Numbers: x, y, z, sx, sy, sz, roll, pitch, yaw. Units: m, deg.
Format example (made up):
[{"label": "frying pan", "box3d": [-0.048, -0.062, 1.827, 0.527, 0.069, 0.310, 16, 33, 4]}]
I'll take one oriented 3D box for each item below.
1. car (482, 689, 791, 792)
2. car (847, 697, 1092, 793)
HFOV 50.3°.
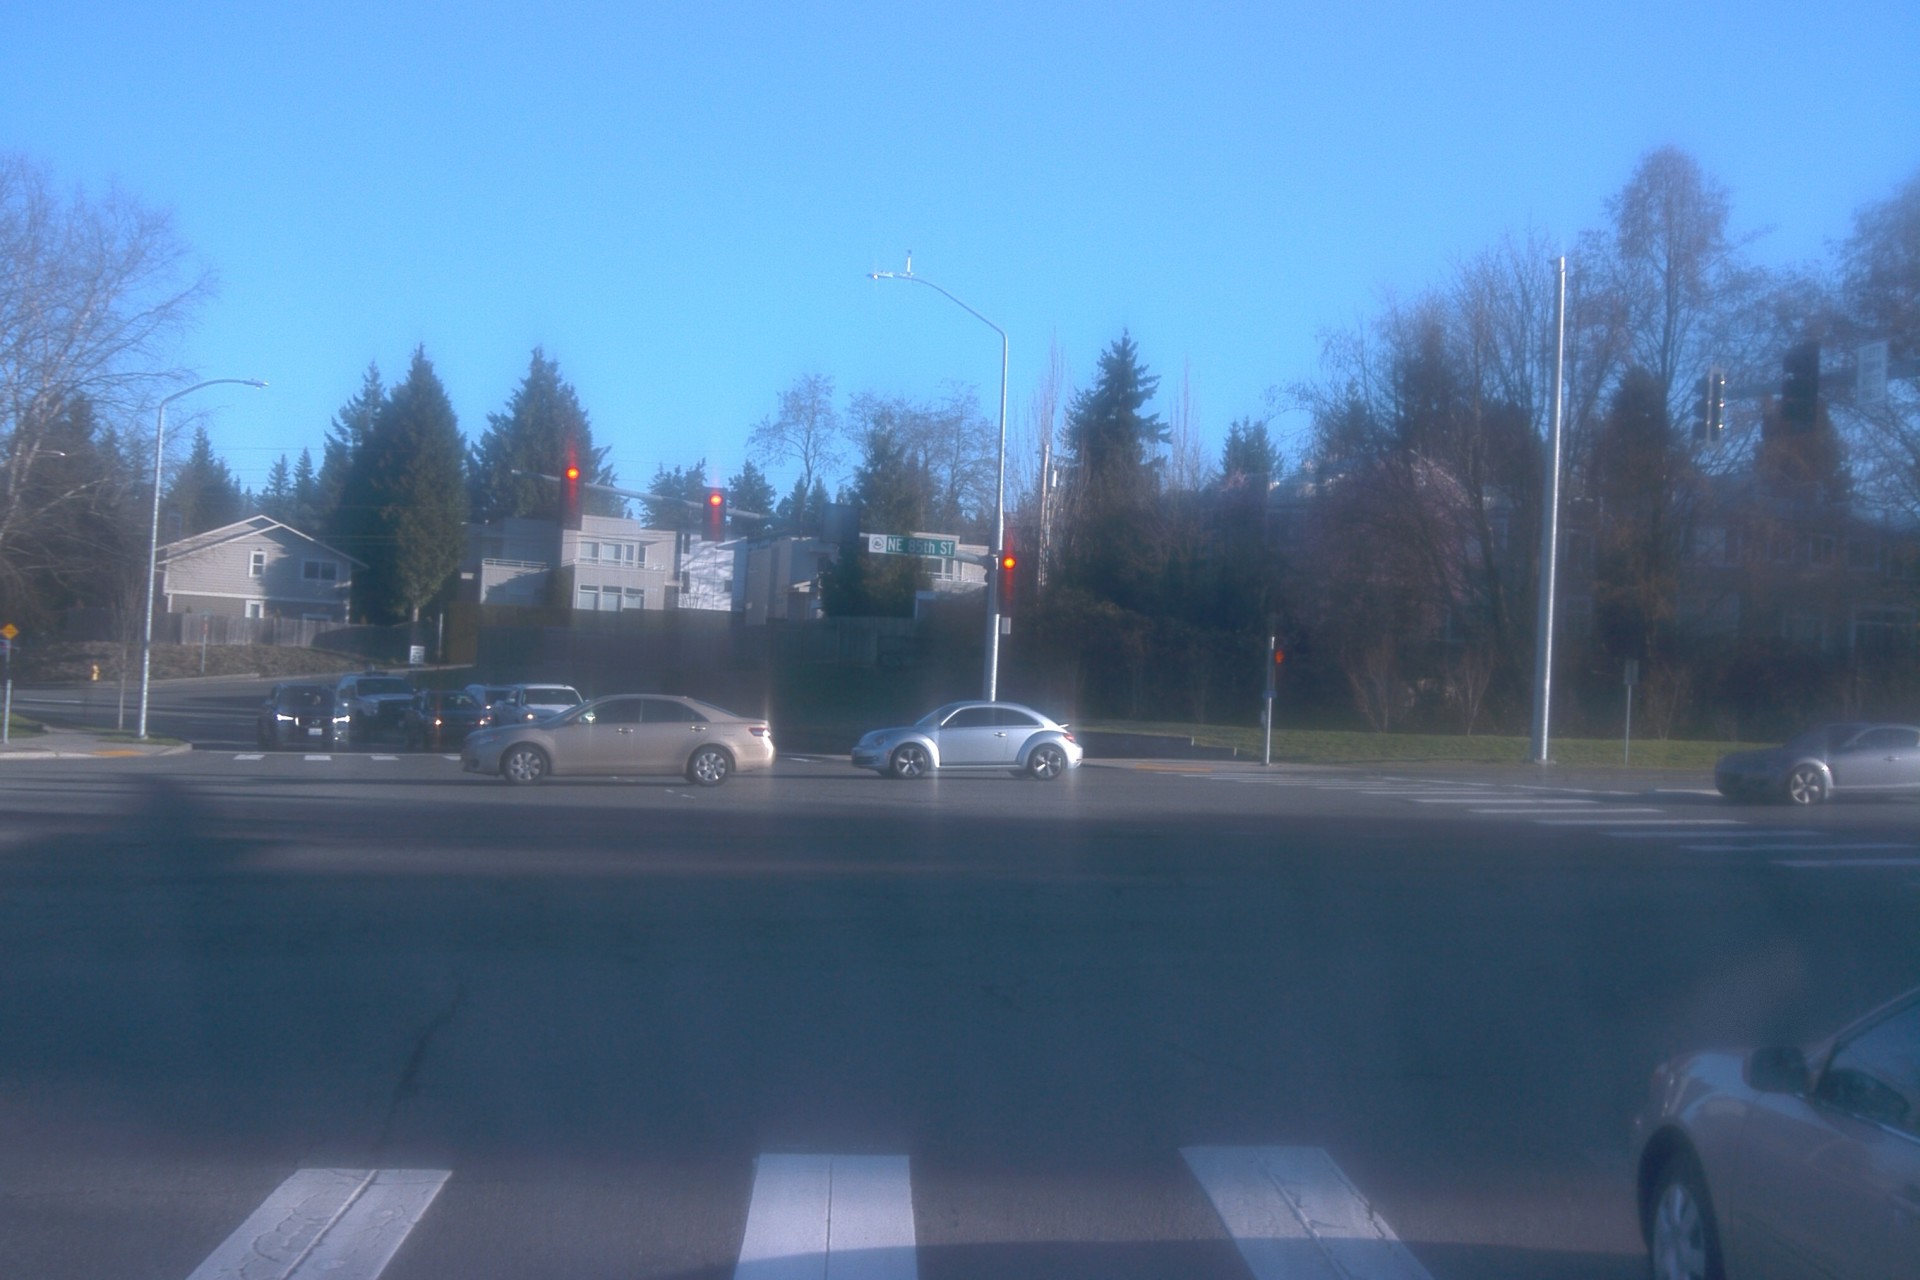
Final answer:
[{"label": "car", "box3d": [-5.165, 1.589, 32.468, 4.699, 1.500, 1.881, 1, 0, -13]}, {"label": "car", "box3d": [0.156, 1.955, 38.183, 4.245, 1.660, 1.787, 1, 0, -13]}]
